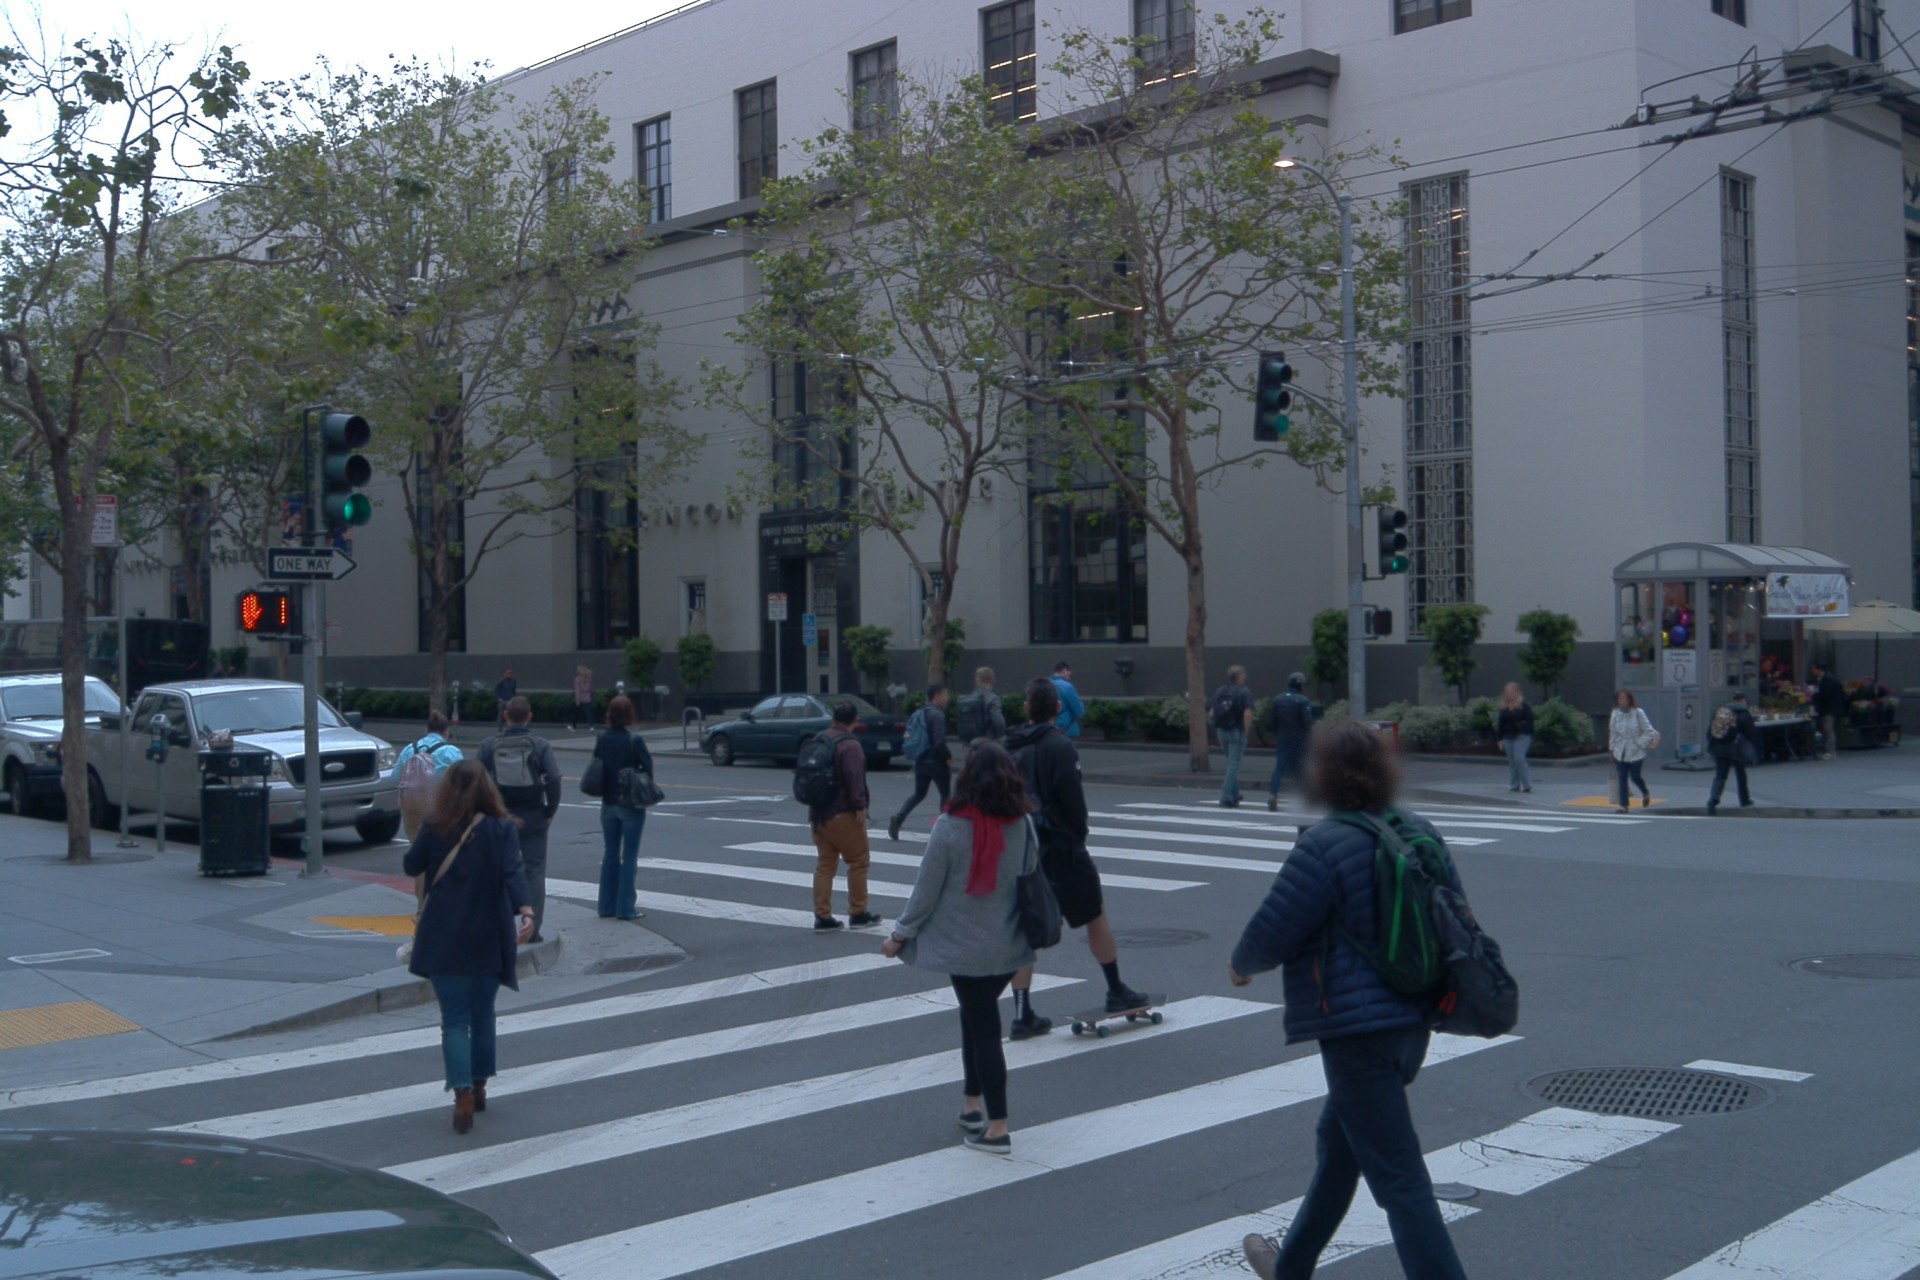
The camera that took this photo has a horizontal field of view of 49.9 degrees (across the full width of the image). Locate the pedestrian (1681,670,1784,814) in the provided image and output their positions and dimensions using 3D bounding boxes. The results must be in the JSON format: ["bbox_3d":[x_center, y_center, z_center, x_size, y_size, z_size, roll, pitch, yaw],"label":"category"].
[{"bbox_3d":[9.863,1.278,26.349,0.963,1.766,0.842,-1,1,-38],"label":"pedestrian"}]

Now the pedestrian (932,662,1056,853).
[{"bbox_3d":[0.357,1.197,21.505,1.051,1.896,0.762,-1,1,-40],"label":"pedestrian"}]

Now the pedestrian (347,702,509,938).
[{"bbox_3d":[-4.221,1.399,16.427,0.830,1.767,1.012,0,1,17],"label":"pedestrian"}]

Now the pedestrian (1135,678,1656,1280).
[{"bbox_3d":[1.184,1.112,5.765,0.847,1.969,1.161,-1,1,-34],"label":"pedestrian"}]

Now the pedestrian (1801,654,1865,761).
[{"bbox_3d":[14.671,1.126,34.690,0.751,1.746,0.848,1,1,42],"label":"pedestrian"}]

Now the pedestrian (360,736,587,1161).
[{"bbox_3d":[-2.216,1.338,9.348,0.886,1.741,0.888,0,1,-21],"label":"pedestrian"}]

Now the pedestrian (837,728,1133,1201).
[{"bbox_3d":[0.086,1.272,8.546,0.799,1.739,1.039,-1,1,-30],"label":"pedestrian"}]

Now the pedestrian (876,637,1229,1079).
[{"bbox_3d":[0.501,1.055,10.905,1.544,2.118,1.097,-1,1,-44],"label":"pedestrian"}]

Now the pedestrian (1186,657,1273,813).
[{"bbox_3d":[3.339,1.153,25.521,0.678,1.856,0.980,0,1,37],"label":"pedestrian"}]

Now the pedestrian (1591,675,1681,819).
[{"bbox_3d":[8.850,1.379,27.029,0.807,1.800,0.940,1,1,42],"label":"pedestrian"}]

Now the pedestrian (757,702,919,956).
[{"bbox_3d":[-0.903,1.368,15.345,0.716,1.771,0.964,1,1,43],"label":"pedestrian"}]

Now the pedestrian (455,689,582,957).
[{"bbox_3d":[-3.146,1.277,14.775,0.853,1.809,0.939,0,1,-11],"label":"pedestrian"}]

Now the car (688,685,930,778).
[{"bbox_3d":[-2.900,1.668,38.813,2.016,1.480,4.678,-1,1,-44],"label":"car"}]

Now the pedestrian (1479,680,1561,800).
[{"bbox_3d":[7.999,1.412,29.488,0.893,1.646,0.735,-1,1,-37],"label":"pedestrian"}]

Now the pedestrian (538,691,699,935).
[{"bbox_3d":[-2.762,1.366,16.731,0.828,1.856,0.973,1,1,40],"label":"pedestrian"}]

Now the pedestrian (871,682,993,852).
[{"bbox_3d":[-0.300,1.314,21.853,0.974,1.706,0.840,-1,1,-42],"label":"pedestrian"}]

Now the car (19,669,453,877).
[{"bbox_3d":[-8.541,1.392,23.968,2.501,1.940,6.007,-1,1,-44],"label":"car"}]

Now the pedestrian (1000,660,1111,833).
[{"bbox_3d":[1.091,1.193,23.559,0.984,1.896,0.798,-1,1,-43],"label":"pedestrian"}]

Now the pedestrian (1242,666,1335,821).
[{"bbox_3d":[3.955,1.224,24.845,0.753,1.796,0.988,0,1,35],"label":"pedestrian"}]
